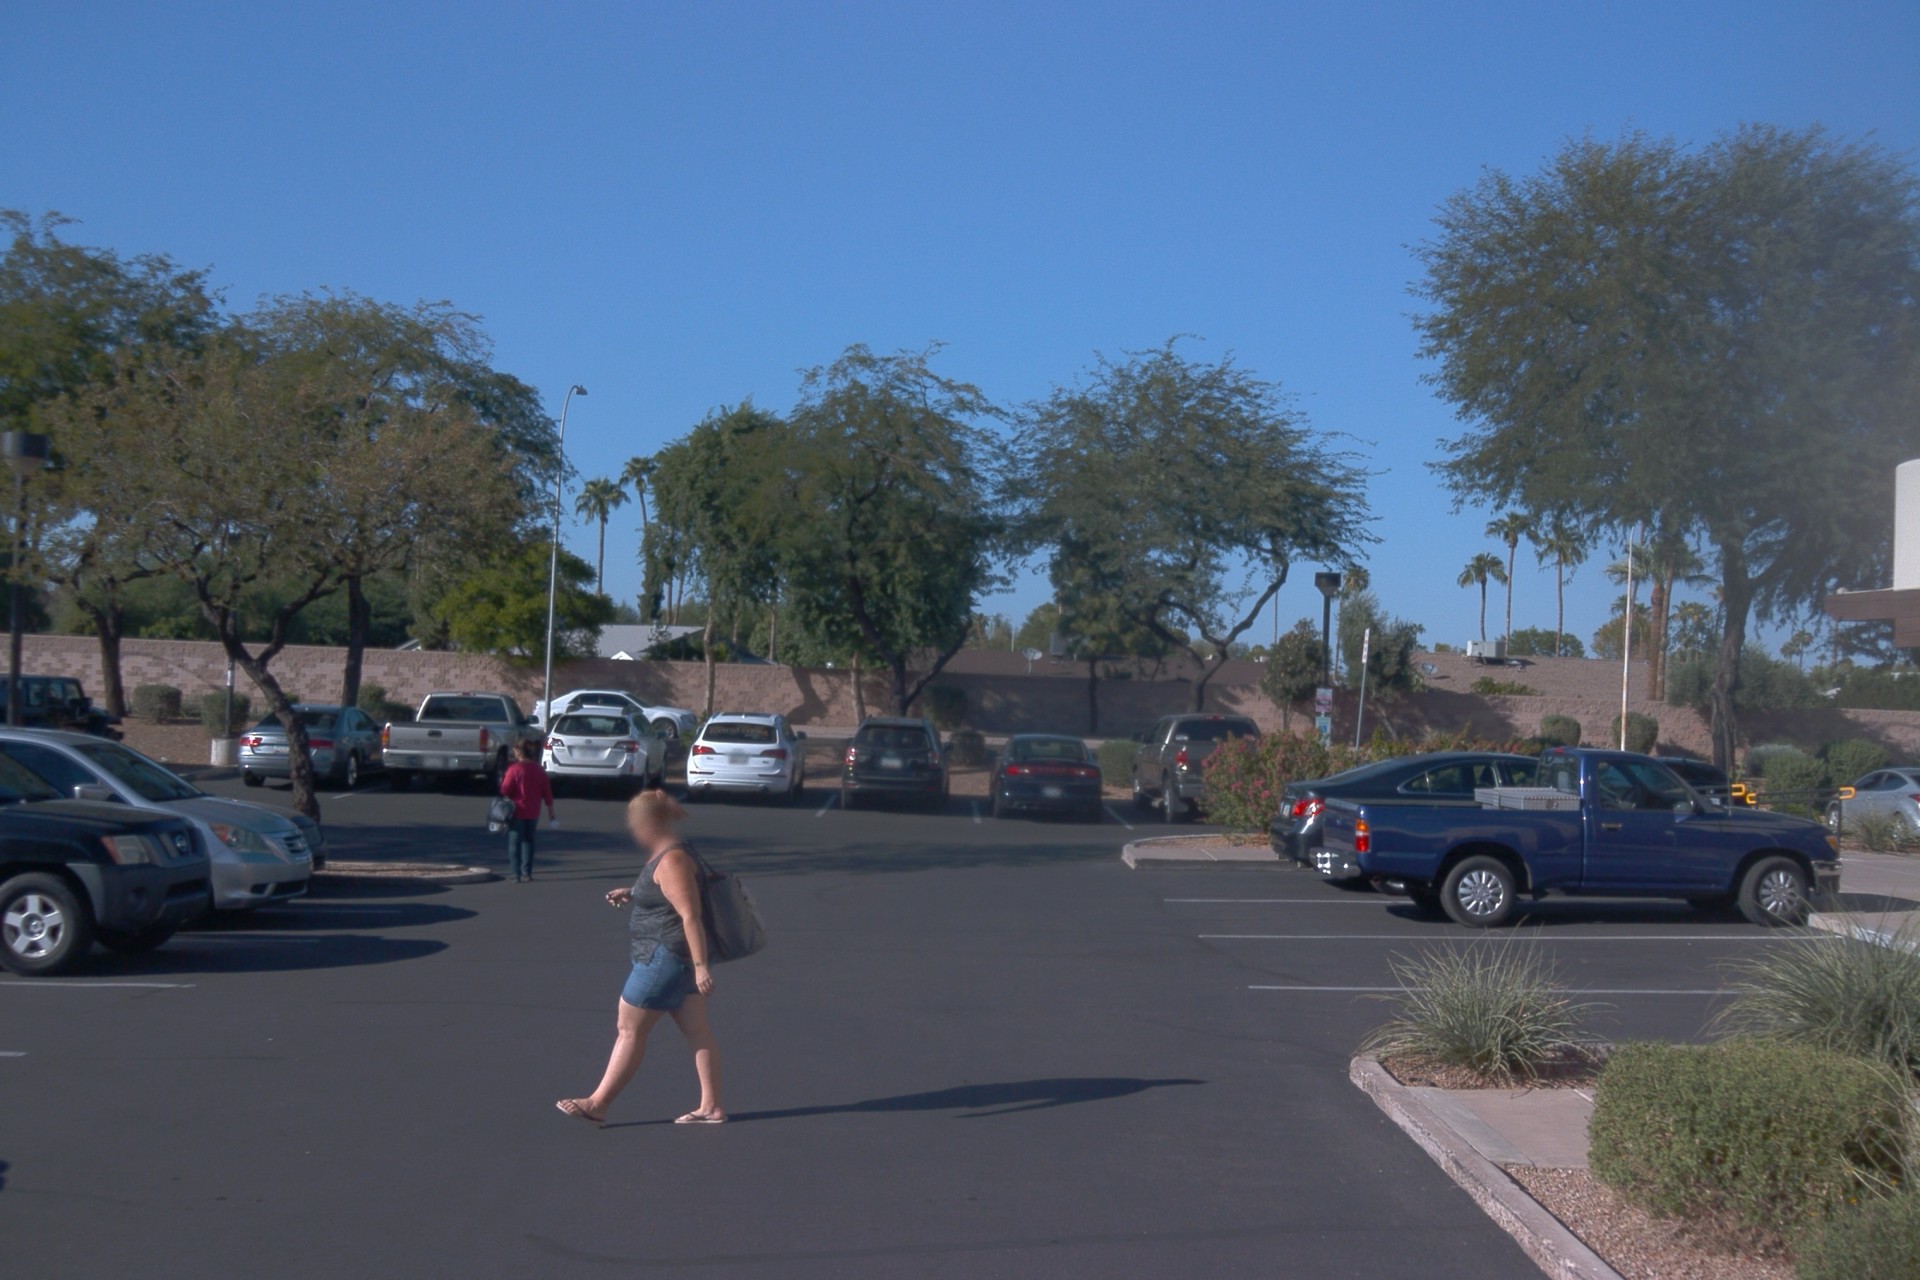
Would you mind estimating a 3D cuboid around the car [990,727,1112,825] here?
[{"bbox_3d":[1.600,2.435,37.927,2.065,1.540,4.526,1,-1,1],"label":"car"}]

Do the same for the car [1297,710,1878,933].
[{"bbox_3d":[5.640,1.615,19.078,4.685,1.860,2.091,1,-1,-2],"label":"car"}]

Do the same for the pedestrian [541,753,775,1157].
[{"bbox_3d":[-1.380,1.426,9.673,0.962,1.750,0.926,1,-1,-2],"label":"pedestrian"}]

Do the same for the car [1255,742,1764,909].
[{"bbox_3d":[5.674,1.915,21.836,4.780,1.570,2.041,1,-1,-2],"label":"car"}]

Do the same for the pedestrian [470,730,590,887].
[{"bbox_3d":[-4.860,1.876,23.400,0.982,1.680,1.039,1,-1,-34],"label":"pedestrian"}]

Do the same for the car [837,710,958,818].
[{"bbox_3d":[-1.091,2.237,38.223,2.055,1.790,4.106,1,-1,1],"label":"car"}]
